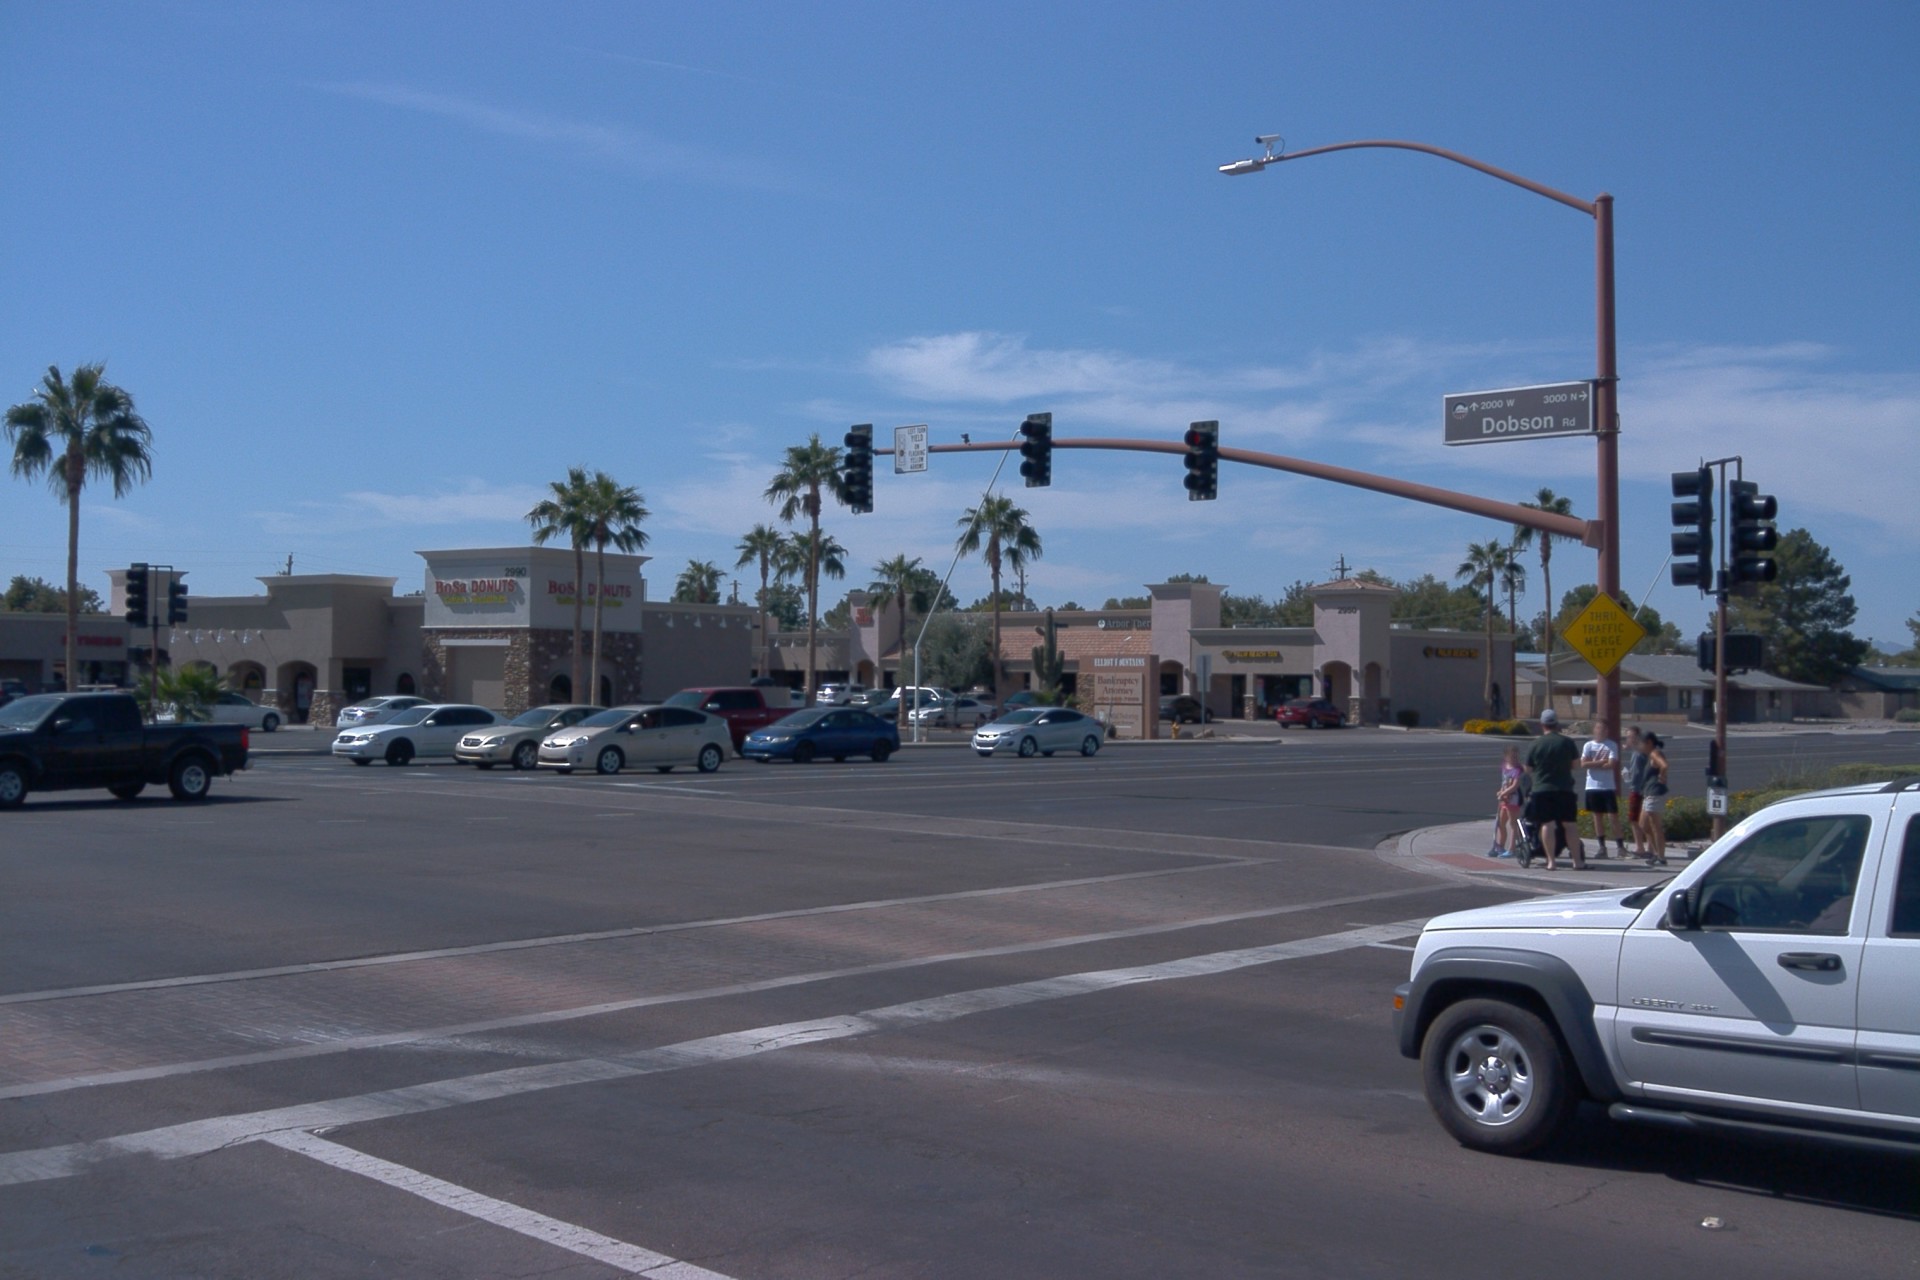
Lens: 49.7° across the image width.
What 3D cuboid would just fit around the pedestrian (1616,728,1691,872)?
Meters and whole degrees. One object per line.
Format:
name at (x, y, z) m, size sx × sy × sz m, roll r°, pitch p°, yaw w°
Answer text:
pedestrian at (7.911, 1.806, 23.633) m, size 0.643 × 1.580 × 0.755 m, roll 0°, pitch -1°, yaw 34°

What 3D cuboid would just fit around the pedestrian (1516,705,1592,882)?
pedestrian at (6.624, 1.700, 23.129) m, size 0.762 × 1.940 × 0.566 m, roll 0°, pitch 0°, yaw 11°

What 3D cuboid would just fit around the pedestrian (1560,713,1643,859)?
pedestrian at (7.727, 1.748, 24.978) m, size 0.696 × 1.710 × 0.689 m, roll 0°, pitch 0°, yaw -13°

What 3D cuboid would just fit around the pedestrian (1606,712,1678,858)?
pedestrian at (8.234, 1.738, 25.006) m, size 0.494 × 1.710 × 0.660 m, roll 0°, pitch -1°, yaw -37°

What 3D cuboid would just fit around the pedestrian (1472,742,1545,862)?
pedestrian at (6.643, 1.951, 25.103) m, size 0.561 × 1.400 × 0.650 m, roll 0°, pitch -1°, yaw -38°
